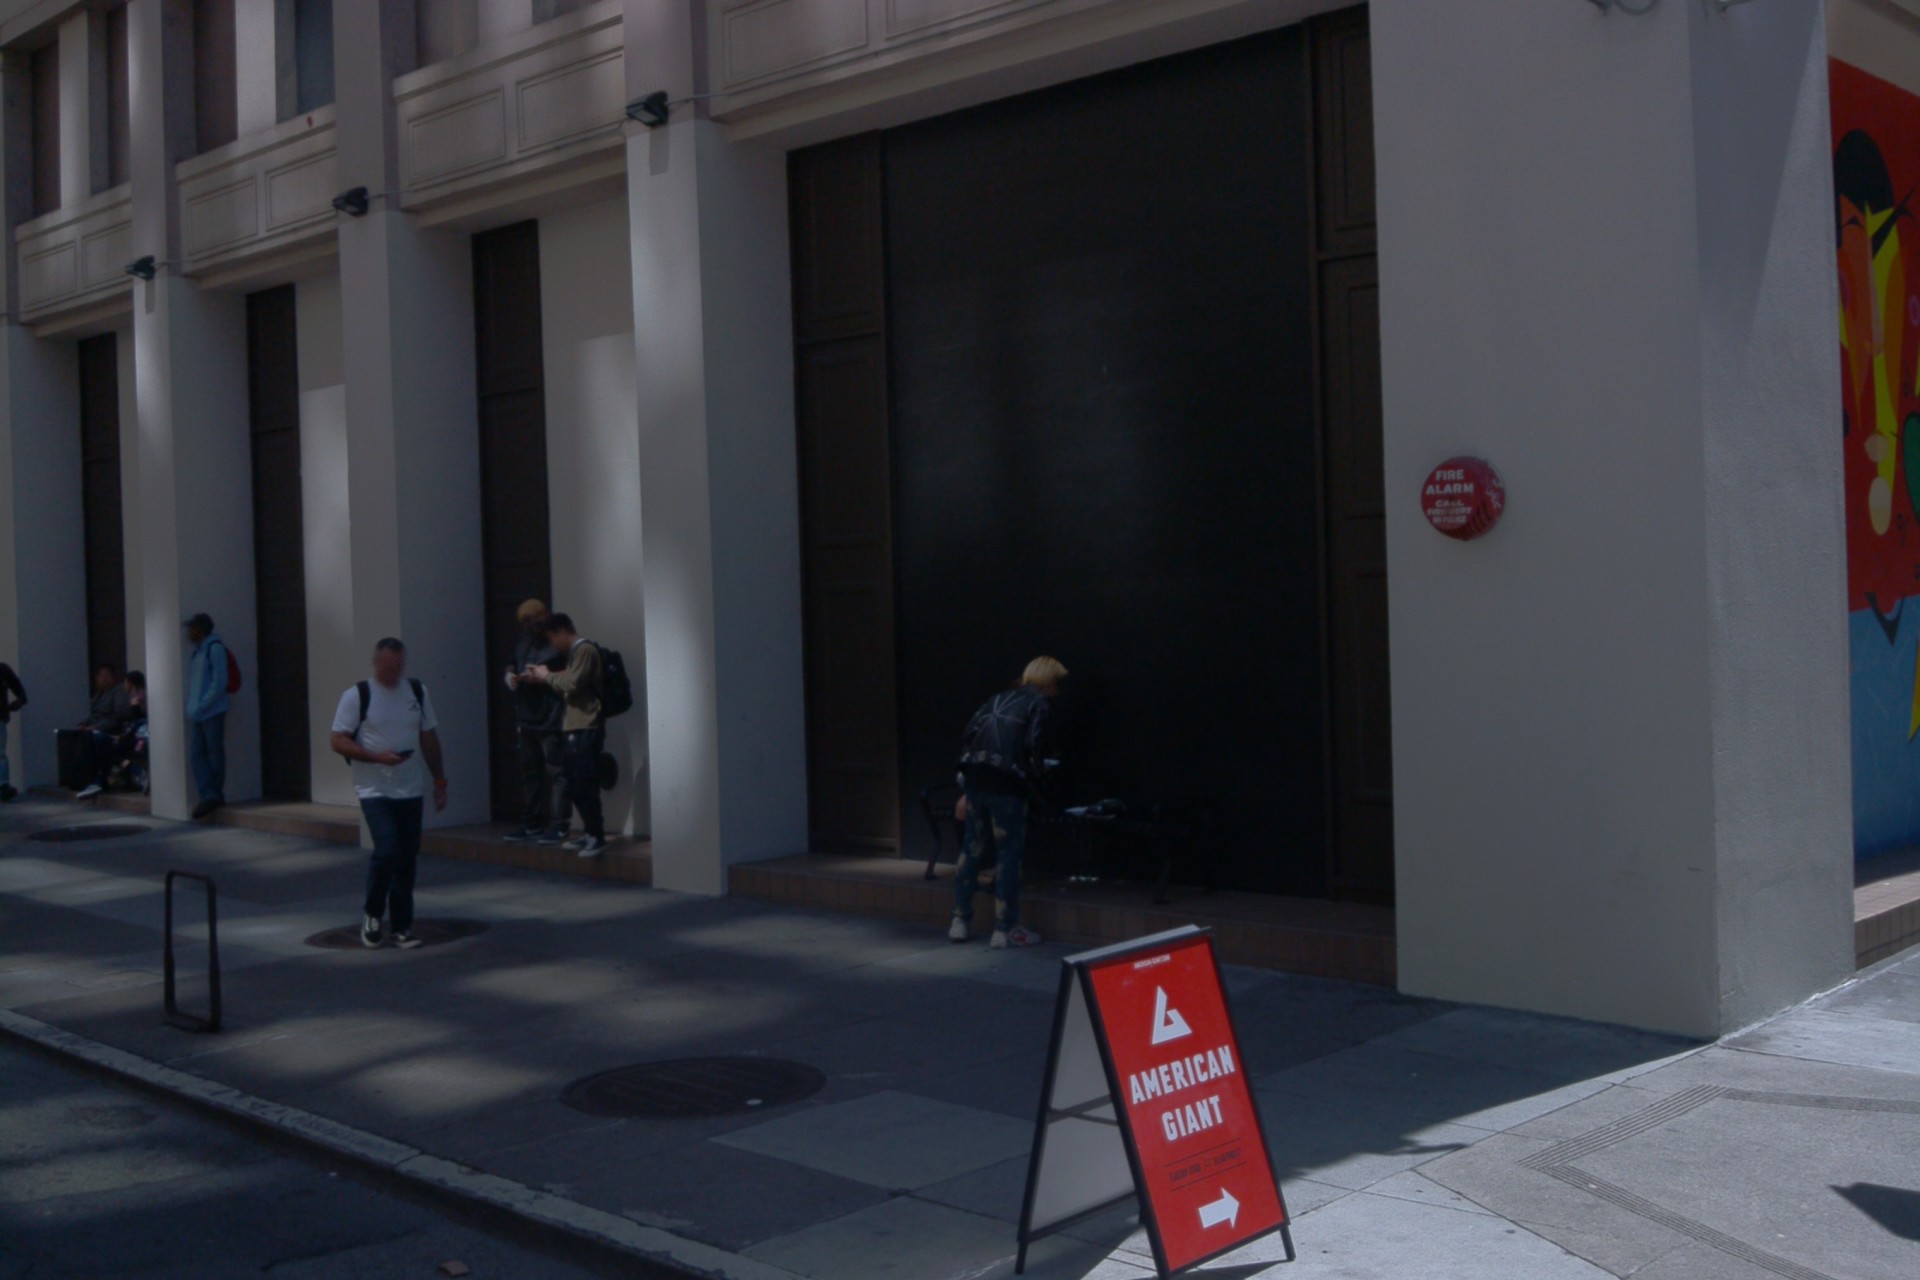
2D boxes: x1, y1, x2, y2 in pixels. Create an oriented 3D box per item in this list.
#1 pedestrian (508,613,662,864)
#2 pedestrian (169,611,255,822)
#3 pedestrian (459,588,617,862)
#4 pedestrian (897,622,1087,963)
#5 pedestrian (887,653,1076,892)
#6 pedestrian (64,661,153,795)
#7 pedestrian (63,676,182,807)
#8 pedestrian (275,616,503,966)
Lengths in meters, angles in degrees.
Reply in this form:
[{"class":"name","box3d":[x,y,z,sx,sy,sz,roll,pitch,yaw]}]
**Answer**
[{"class":"pedestrian","box3d":[-2.700,0.678,14.810,0.701,1.744,0.827,0,0,43]},{"class":"pedestrian","box3d":[-6.864,0.683,18.866,0.541,1.903,0.550,0,0,43]},{"class":"pedestrian","box3d":[-3.127,0.601,15.235,0.774,1.953,0.848,0,0,43]},{"class":"pedestrian","box3d":[0.186,0.818,11.630,0.674,1.838,0.853,0,0,42]},{"class":"pedestrian","box3d":[0.130,0.752,12.173,0.747,1.328,0.832,0,0,43]},{"class":"pedestrian","box3d":[-8.763,0.890,21.154,0.605,1.328,0.752,0,0,-45]},{"class":"pedestrian","box3d":[-8.395,1.003,20.635,0.959,1.270,0.642,0,0,-5]},{"class":"pedestrian","box3d":[-3.379,0.832,12.135,0.867,1.936,1.198,0,0,-41]}]
